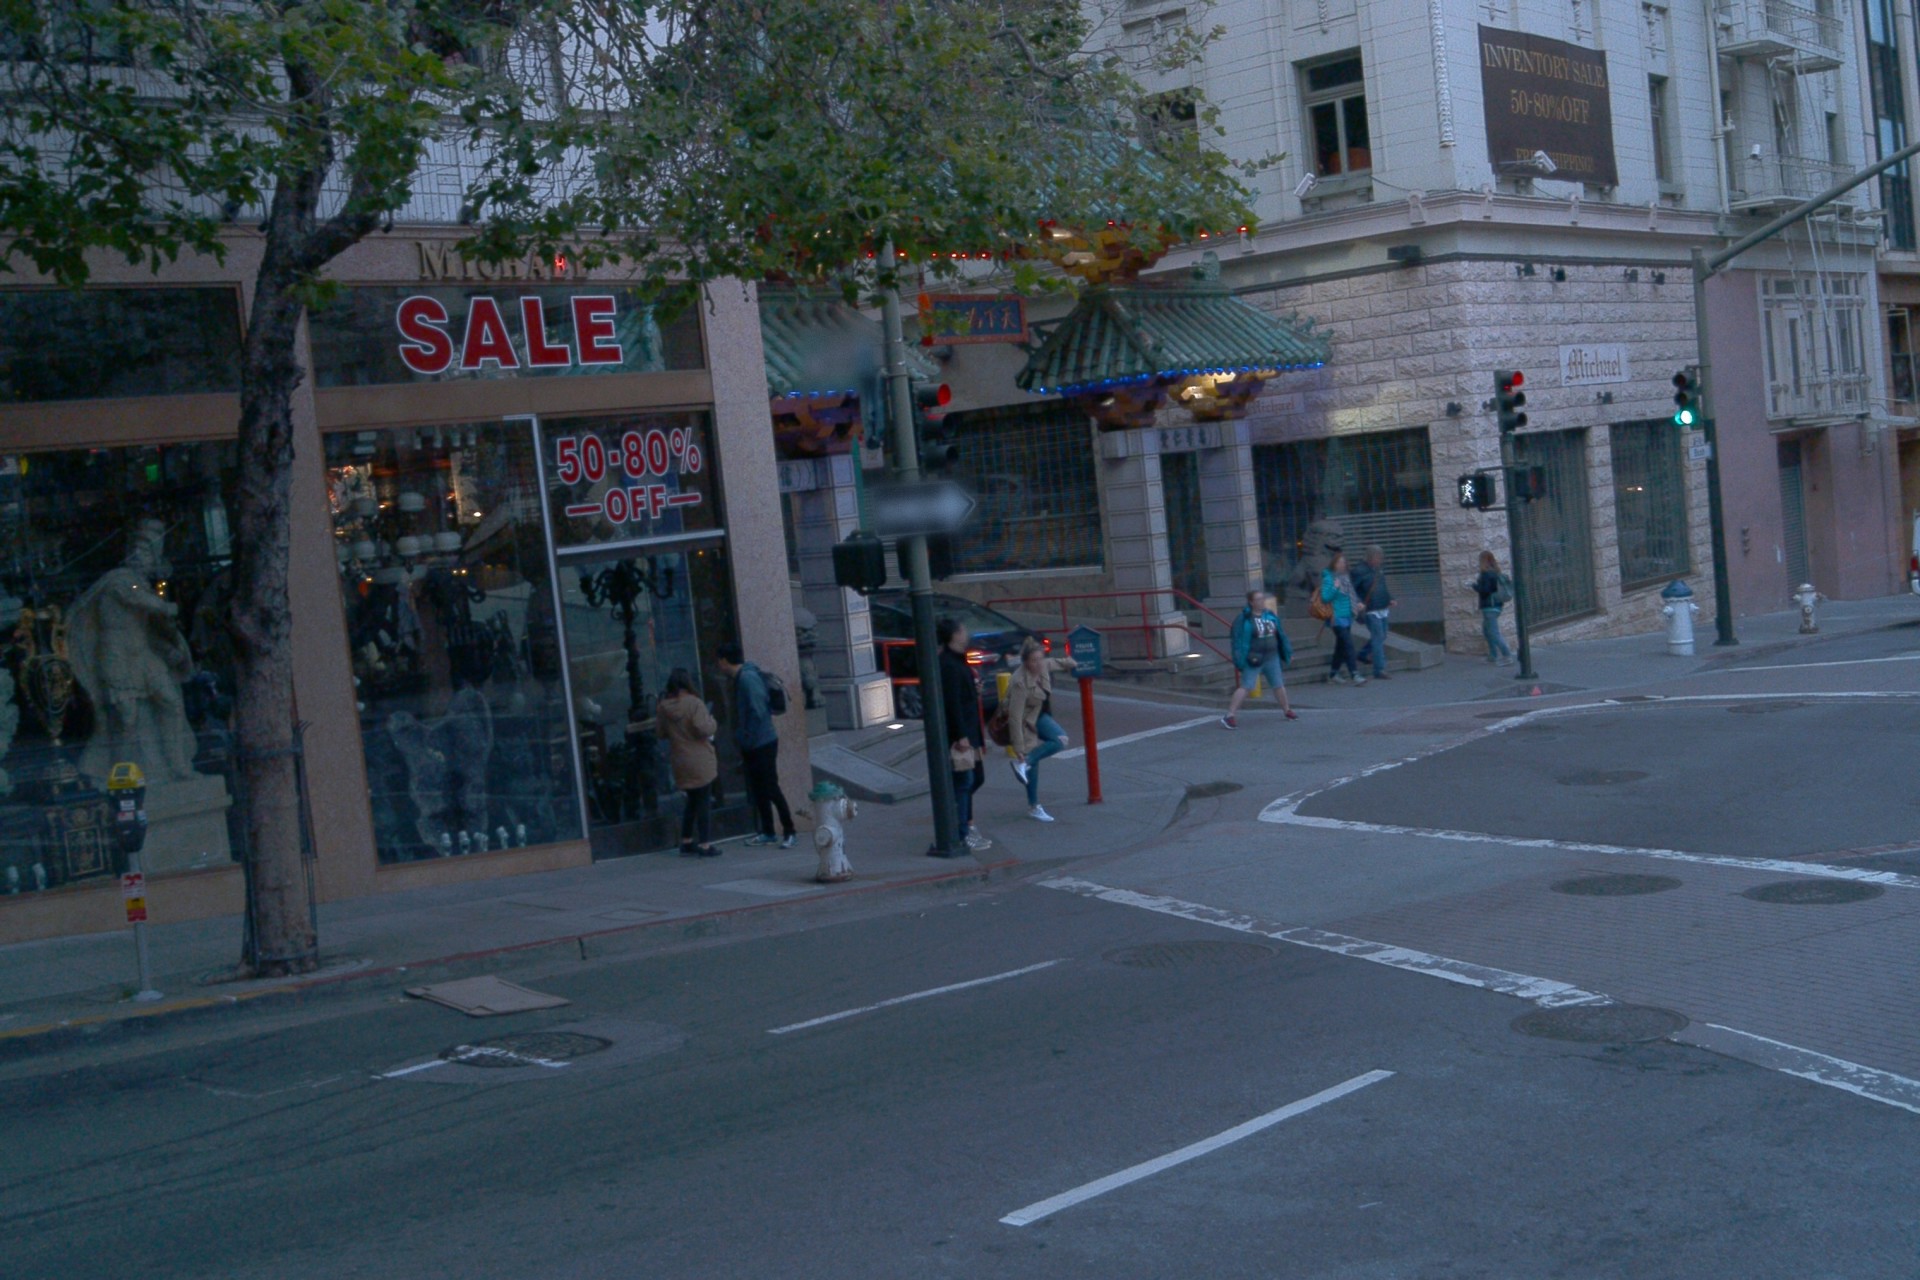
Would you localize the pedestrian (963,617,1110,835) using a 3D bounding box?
[{"bbox_3d":[0.695,0.739,18.541,0.817,1.880,1.093,1,1,40],"label":"pedestrian"}]

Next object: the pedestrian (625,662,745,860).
[{"bbox_3d":[-2.275,0.983,17.116,0.788,1.580,0.744,0,1,10],"label":"pedestrian"}]

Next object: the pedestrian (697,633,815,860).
[{"bbox_3d":[-1.755,0.888,17.737,0.724,1.880,0.716,-1,1,-40],"label":"pedestrian"}]

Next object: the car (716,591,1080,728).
[{"bbox_3d":[-0.888,0.199,27.027,4.646,1.640,2.155,1,1,44],"label":"car"}]

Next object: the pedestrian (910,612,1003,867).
[{"bbox_3d":[-0.023,0.800,17.088,0.546,2.070,0.610,0,1,27],"label":"pedestrian"}]

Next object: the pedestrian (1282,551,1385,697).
[{"bbox_3d":[4.838,-0.213,26.780,0.927,1.850,0.934,-1,1,-36],"label":"pedestrian"}]

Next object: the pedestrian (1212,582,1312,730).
[{"bbox_3d":[3.571,0.180,24.473,0.974,1.710,0.986,0,1,-4],"label":"pedestrian"}]

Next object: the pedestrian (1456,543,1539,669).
[{"bbox_3d":[7.185,-0.453,27.607,0.818,1.660,0.754,1,1,42],"label":"pedestrian"}]

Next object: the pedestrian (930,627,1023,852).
[{"bbox_3d":[0.147,0.831,17.670,0.531,1.880,0.637,0,1,33],"label":"pedestrian"}]

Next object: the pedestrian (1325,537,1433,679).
[{"bbox_3d":[5.508,-0.424,27.144,0.964,1.820,1.000,-1,1,-33],"label":"pedestrian"}]
